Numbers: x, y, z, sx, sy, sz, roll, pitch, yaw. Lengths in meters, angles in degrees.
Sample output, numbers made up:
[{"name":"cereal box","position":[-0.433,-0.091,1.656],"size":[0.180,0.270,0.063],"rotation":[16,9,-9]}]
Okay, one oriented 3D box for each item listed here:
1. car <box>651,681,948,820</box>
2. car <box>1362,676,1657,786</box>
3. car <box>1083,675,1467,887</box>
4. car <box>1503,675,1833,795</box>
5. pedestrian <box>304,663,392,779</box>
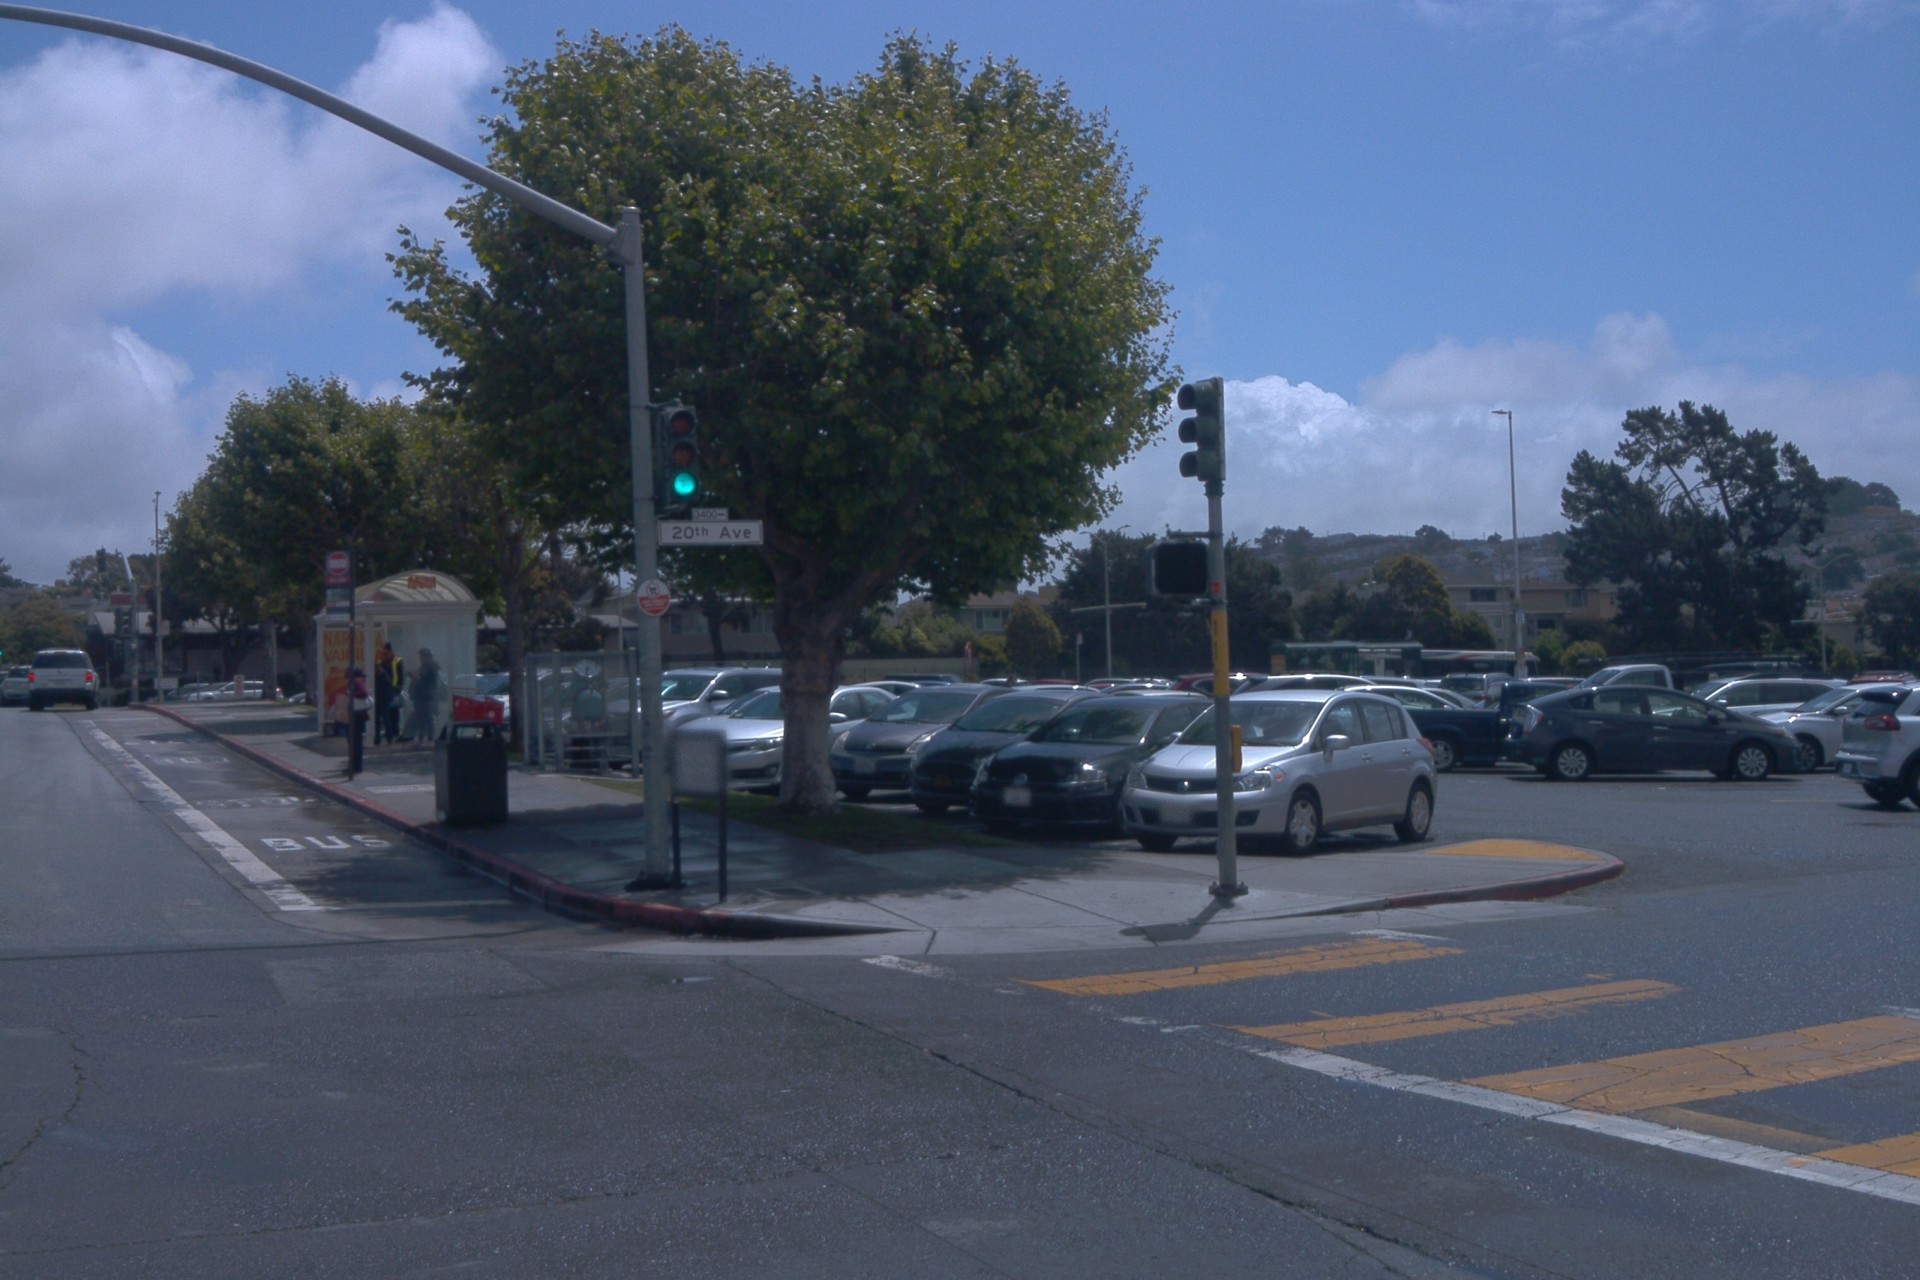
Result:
[{"name":"car","position":[-2.190,1.493,29.364],"size":[2.122,1.660,4.442],"rotation":[0,1,29]},{"name":"car","position":[9.091,1.493,34.322],"size":[4.451,1.710,2.050],"rotation":[0,1,5]},{"name":"car","position":[3.191,1.258,20.126],"size":[1.983,1.700,4.249],"rotation":[0,1,36]},{"name":"car","position":[10.839,1.431,31.744],"size":[4.452,1.710,2.050],"rotation":[0,1,6]},{"name":"pedestrian","position":[-8.921,1.164,29.941],"size":[0.993,1.620,1.081],"rotation":[-1,1,-29]}]
